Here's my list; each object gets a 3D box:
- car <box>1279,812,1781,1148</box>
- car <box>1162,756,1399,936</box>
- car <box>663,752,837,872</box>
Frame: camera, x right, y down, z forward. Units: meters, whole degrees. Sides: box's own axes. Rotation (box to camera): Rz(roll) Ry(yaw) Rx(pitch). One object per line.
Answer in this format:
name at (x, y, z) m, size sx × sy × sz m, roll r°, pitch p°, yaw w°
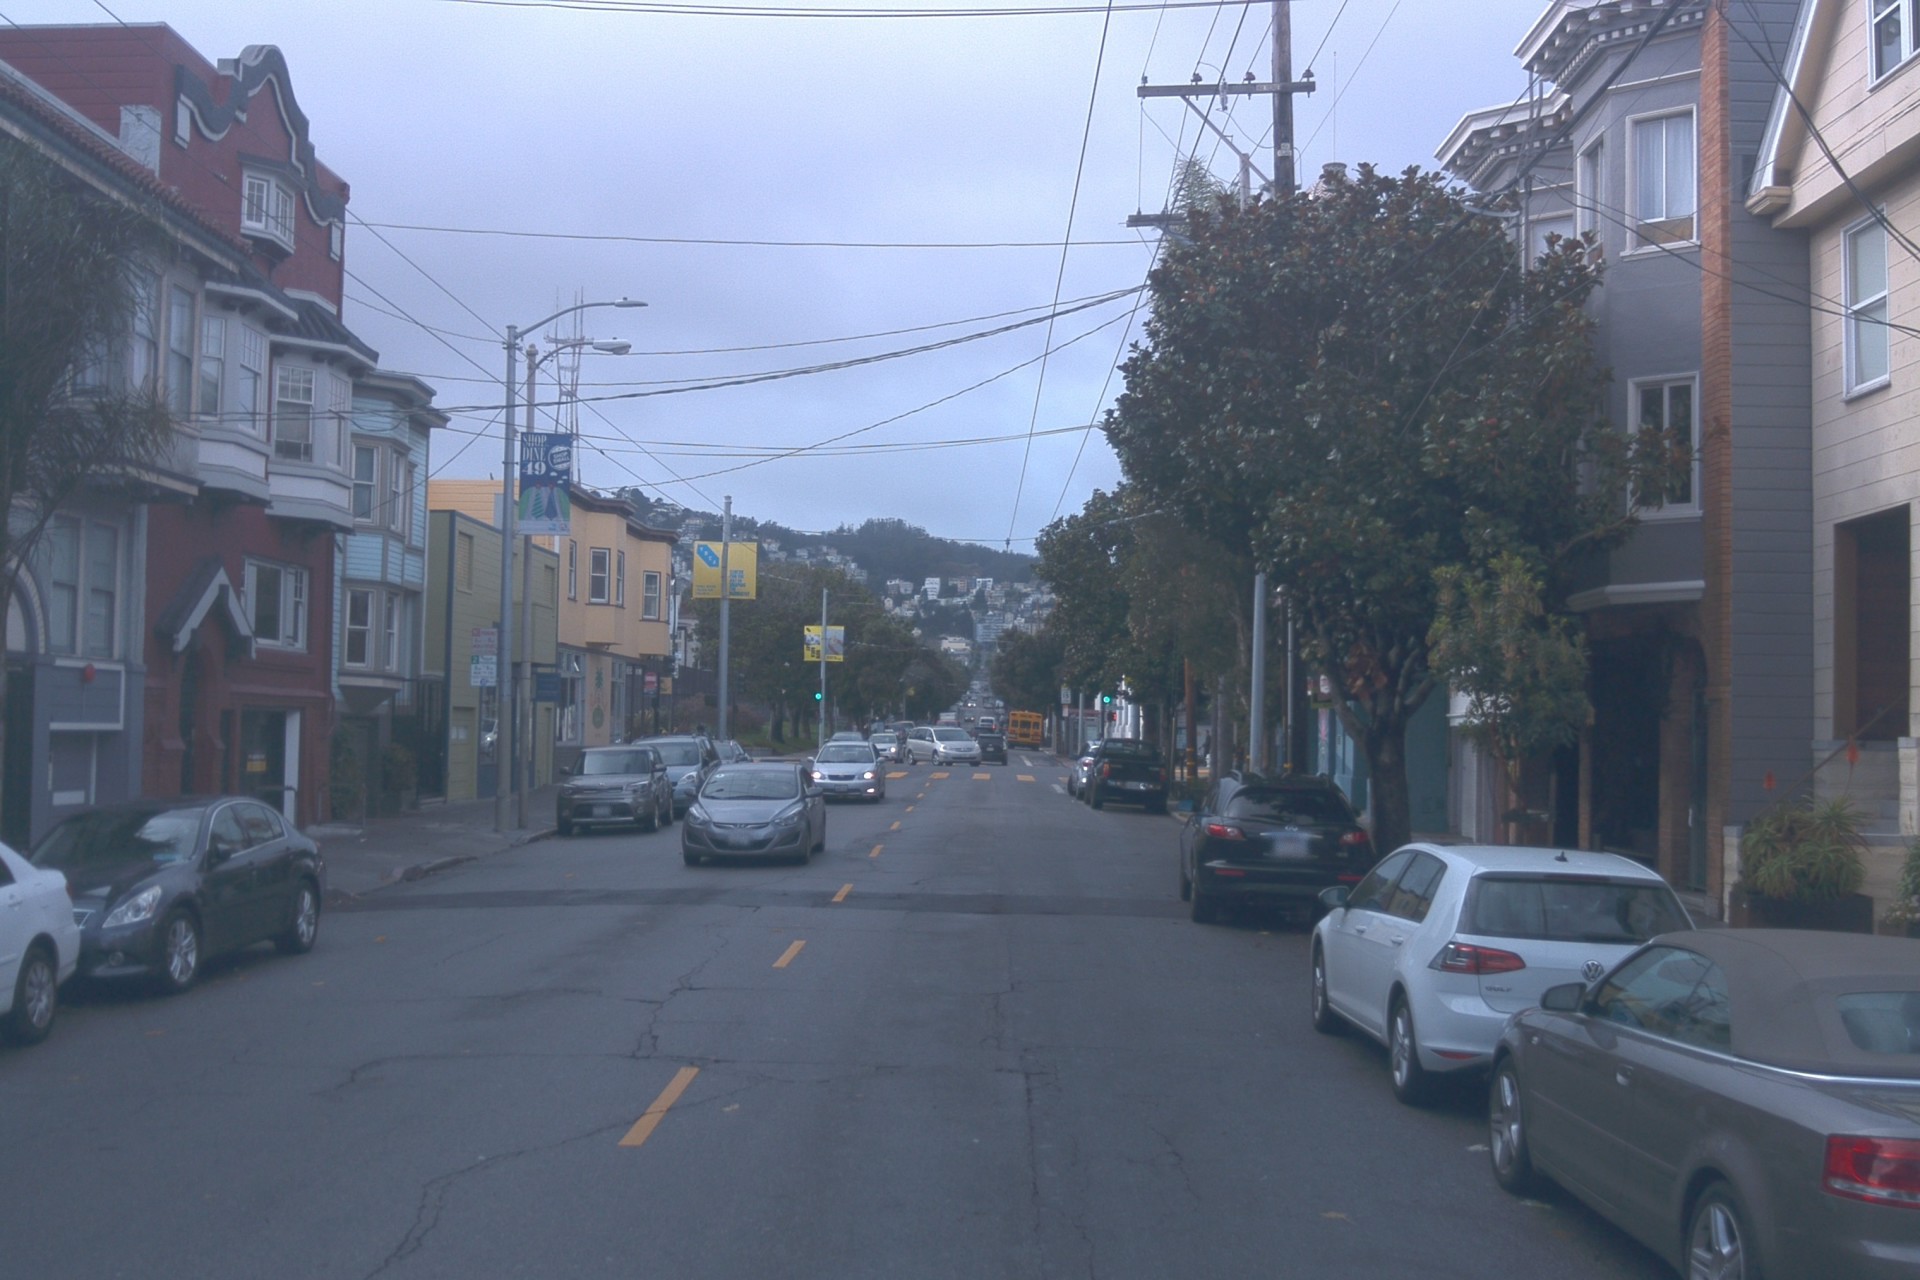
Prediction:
car at (3.341, 1.971, 13.146) m, size 2.059 × 1.500 × 4.269 m, roll 1°, pitch -2°, yaw 1°
car at (3.522, 2.243, 23.798) m, size 2.176 × 1.670 × 4.766 m, roll 1°, pitch -2°, yaw 3°
car at (-3.015, 2.486, 30.887) m, size 2.040 × 1.480 × 4.528 m, roll 1°, pitch -2°, yaw 1°
